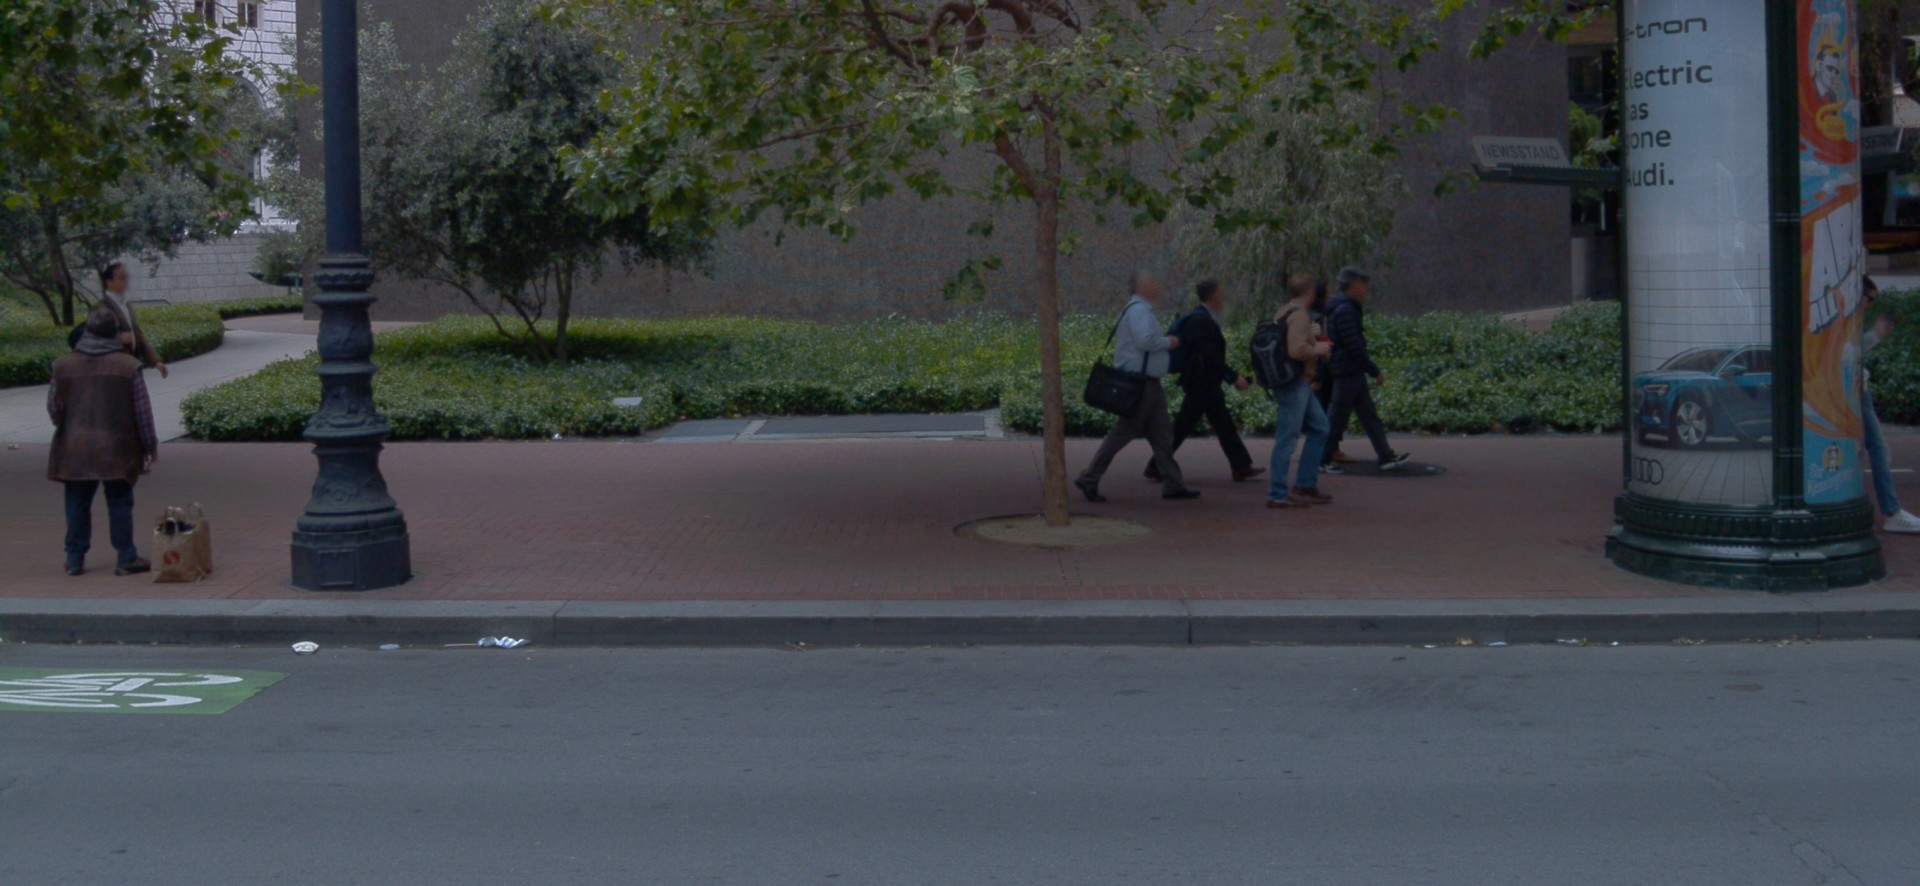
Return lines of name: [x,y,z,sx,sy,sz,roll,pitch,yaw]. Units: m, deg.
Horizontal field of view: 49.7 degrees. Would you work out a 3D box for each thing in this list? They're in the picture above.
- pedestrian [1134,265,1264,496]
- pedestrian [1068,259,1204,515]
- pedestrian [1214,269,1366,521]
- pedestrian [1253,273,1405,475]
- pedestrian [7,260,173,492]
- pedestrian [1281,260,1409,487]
pedestrian: [1.925,-0.532,16.800,1.012,1.797,0.887,0,2,4]
pedestrian: [1.346,-0.466,16.030,1.013,1.897,0.997,0,2,3]
pedestrian: [2.472,-0.385,15.591,1.075,1.827,0.737,0,2,5]
pedestrian: [3.214,-0.629,18.131,1.172,1.697,0.931,0,2,1]
pedestrian: [-7.377,-0.604,17.621,1.099,1.877,1.031,0,2,-11]
pedestrian: [3.203,-0.609,17.323,0.935,1.827,0.894,0,2,3]
